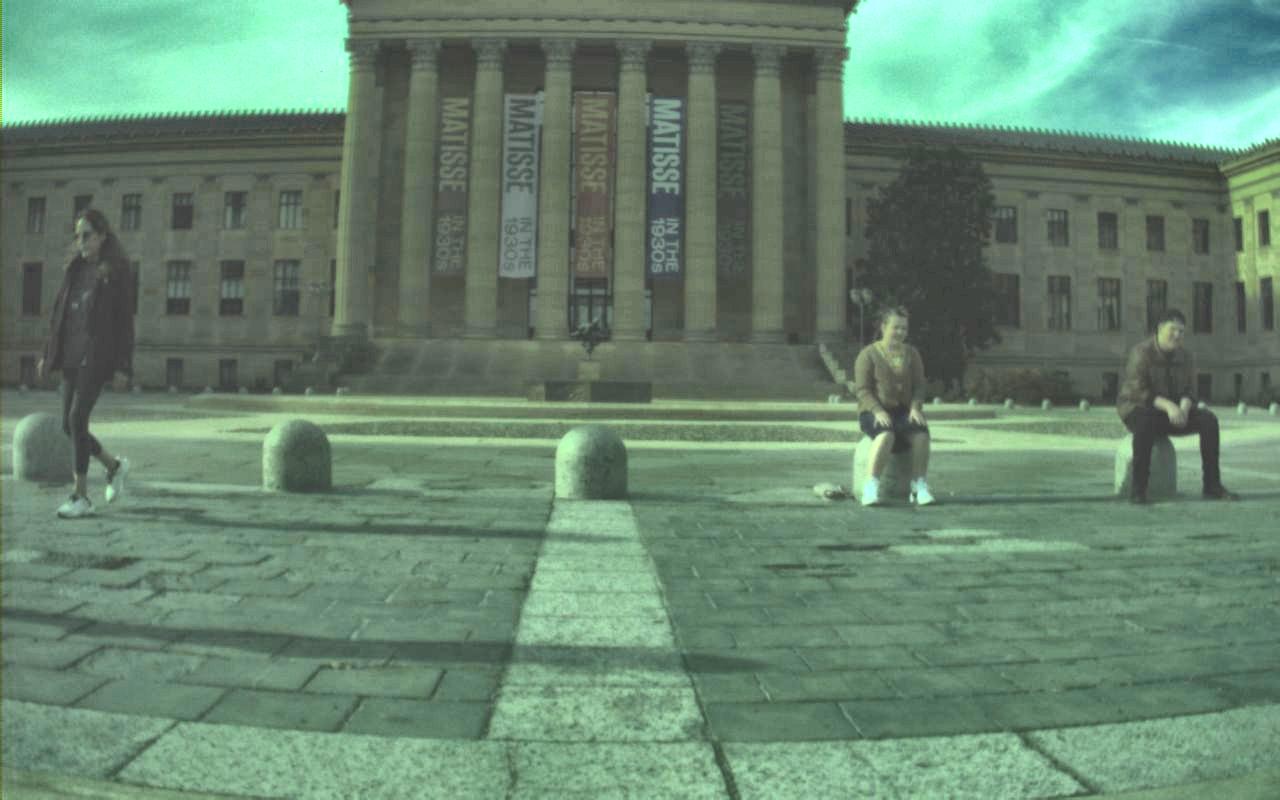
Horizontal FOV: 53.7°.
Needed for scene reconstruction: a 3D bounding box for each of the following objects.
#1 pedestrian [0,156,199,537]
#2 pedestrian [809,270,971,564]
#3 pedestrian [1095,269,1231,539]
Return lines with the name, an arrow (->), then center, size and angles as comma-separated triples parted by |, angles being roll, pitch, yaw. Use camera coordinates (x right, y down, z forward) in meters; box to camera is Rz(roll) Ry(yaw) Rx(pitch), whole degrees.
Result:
pedestrian -> -2.823, -0.254, 5.897 | 0.793, 1.799, 0.849 | 0, 0, 15
pedestrian -> 1.581, 0.097, 7.921 | 0.805, 1.766, 0.814 | 0, 0, -8
pedestrian -> 3.505, 0.037, 7.877 | 0.780, 1.722, 0.801 | 0, 0, 10
